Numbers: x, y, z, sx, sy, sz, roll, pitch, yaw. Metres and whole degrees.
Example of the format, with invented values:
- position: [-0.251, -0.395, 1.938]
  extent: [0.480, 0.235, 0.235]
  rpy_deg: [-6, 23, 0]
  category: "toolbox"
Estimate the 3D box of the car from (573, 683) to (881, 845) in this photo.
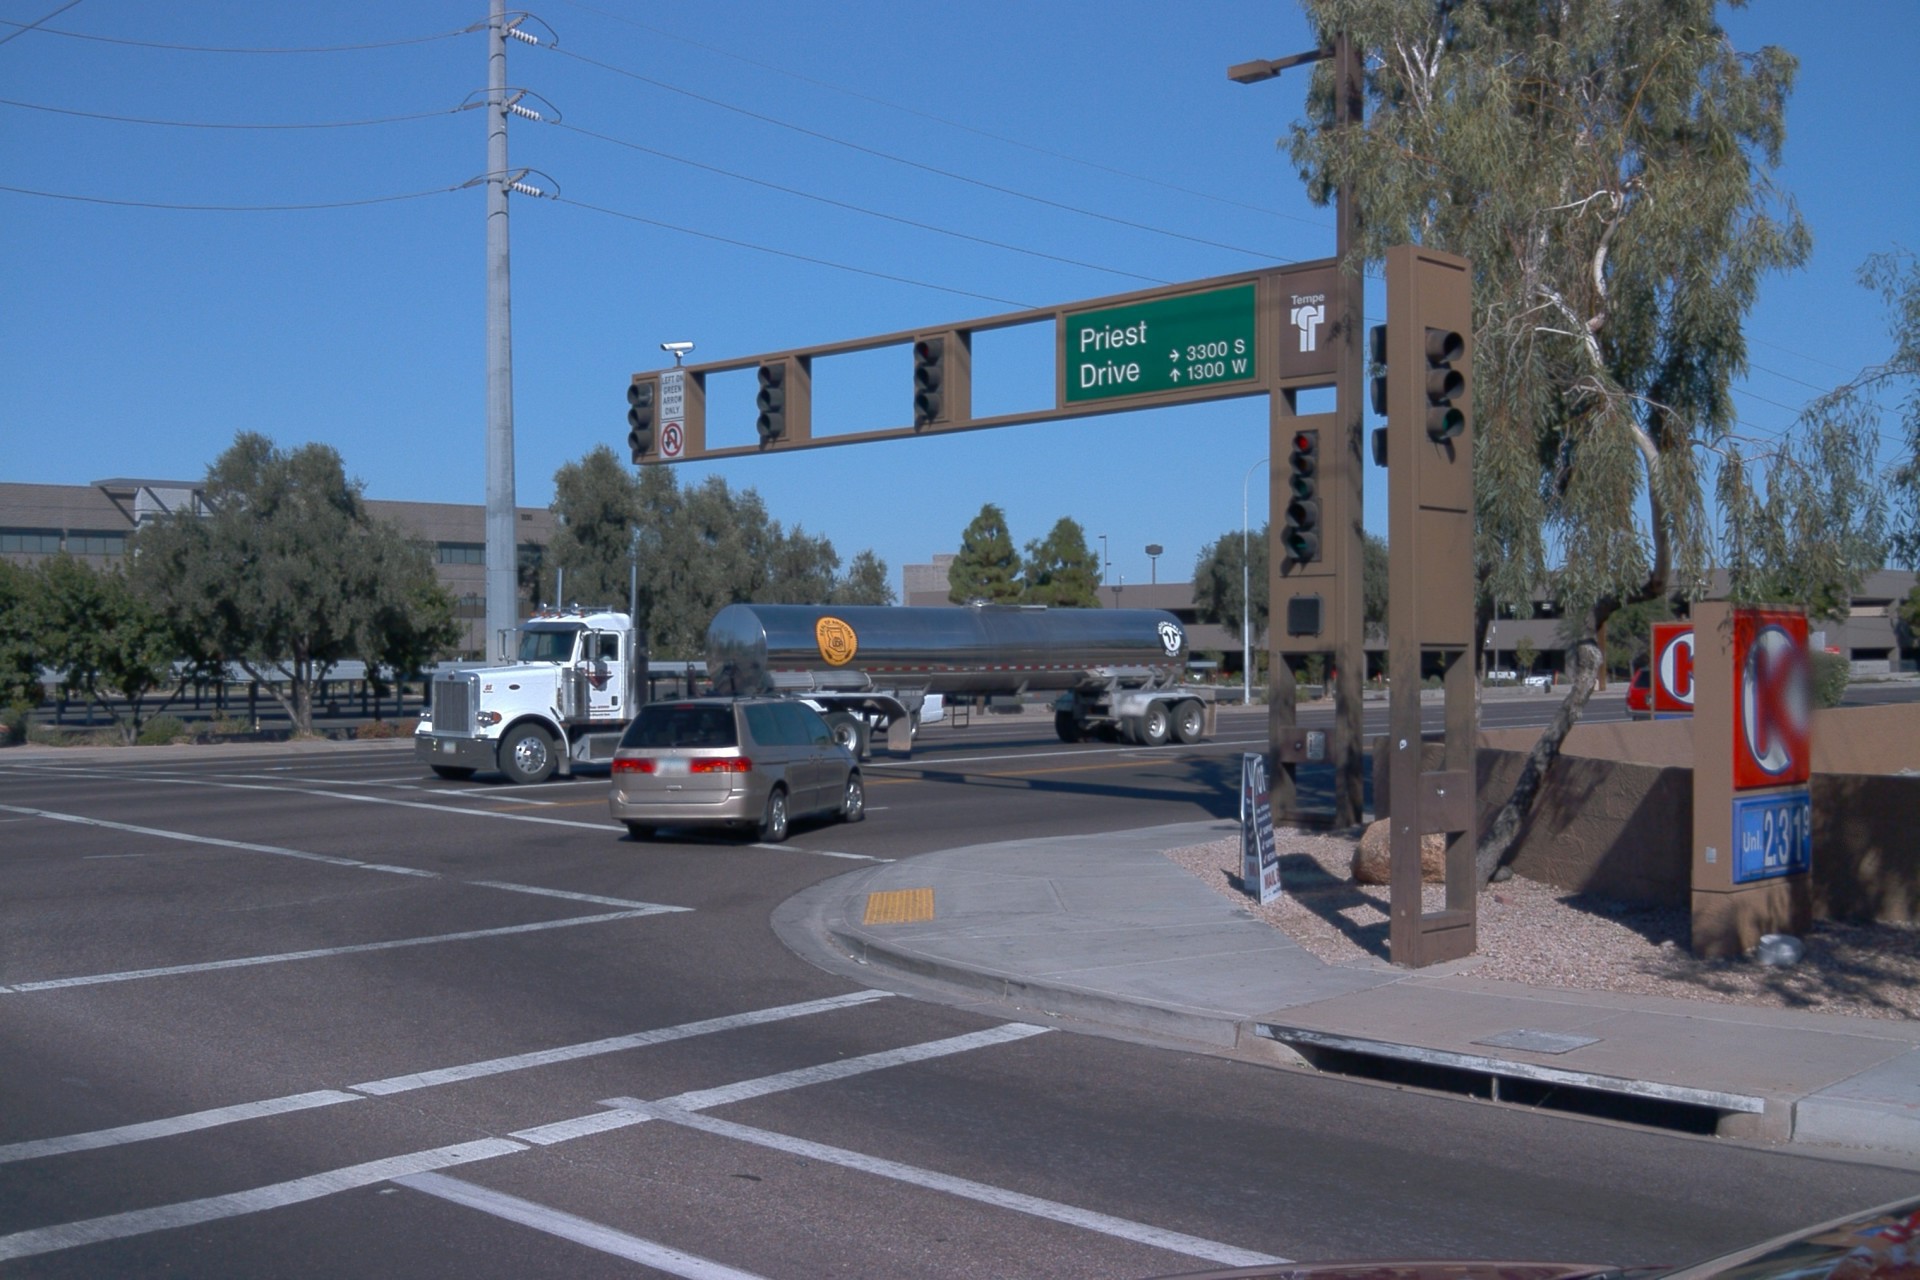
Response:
- position: [-2.811, 1.474, 26.495]
  extent: [2.233, 1.810, 4.919]
  rpy_deg: [0, -1, 16]
  category: "car"

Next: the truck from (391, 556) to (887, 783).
- position: [-5.492, 0.529, 37.219]
  extent: [3.179, 3.610, 8.600]
  rpy_deg: [0, -1, 44]
  category: "truck"
